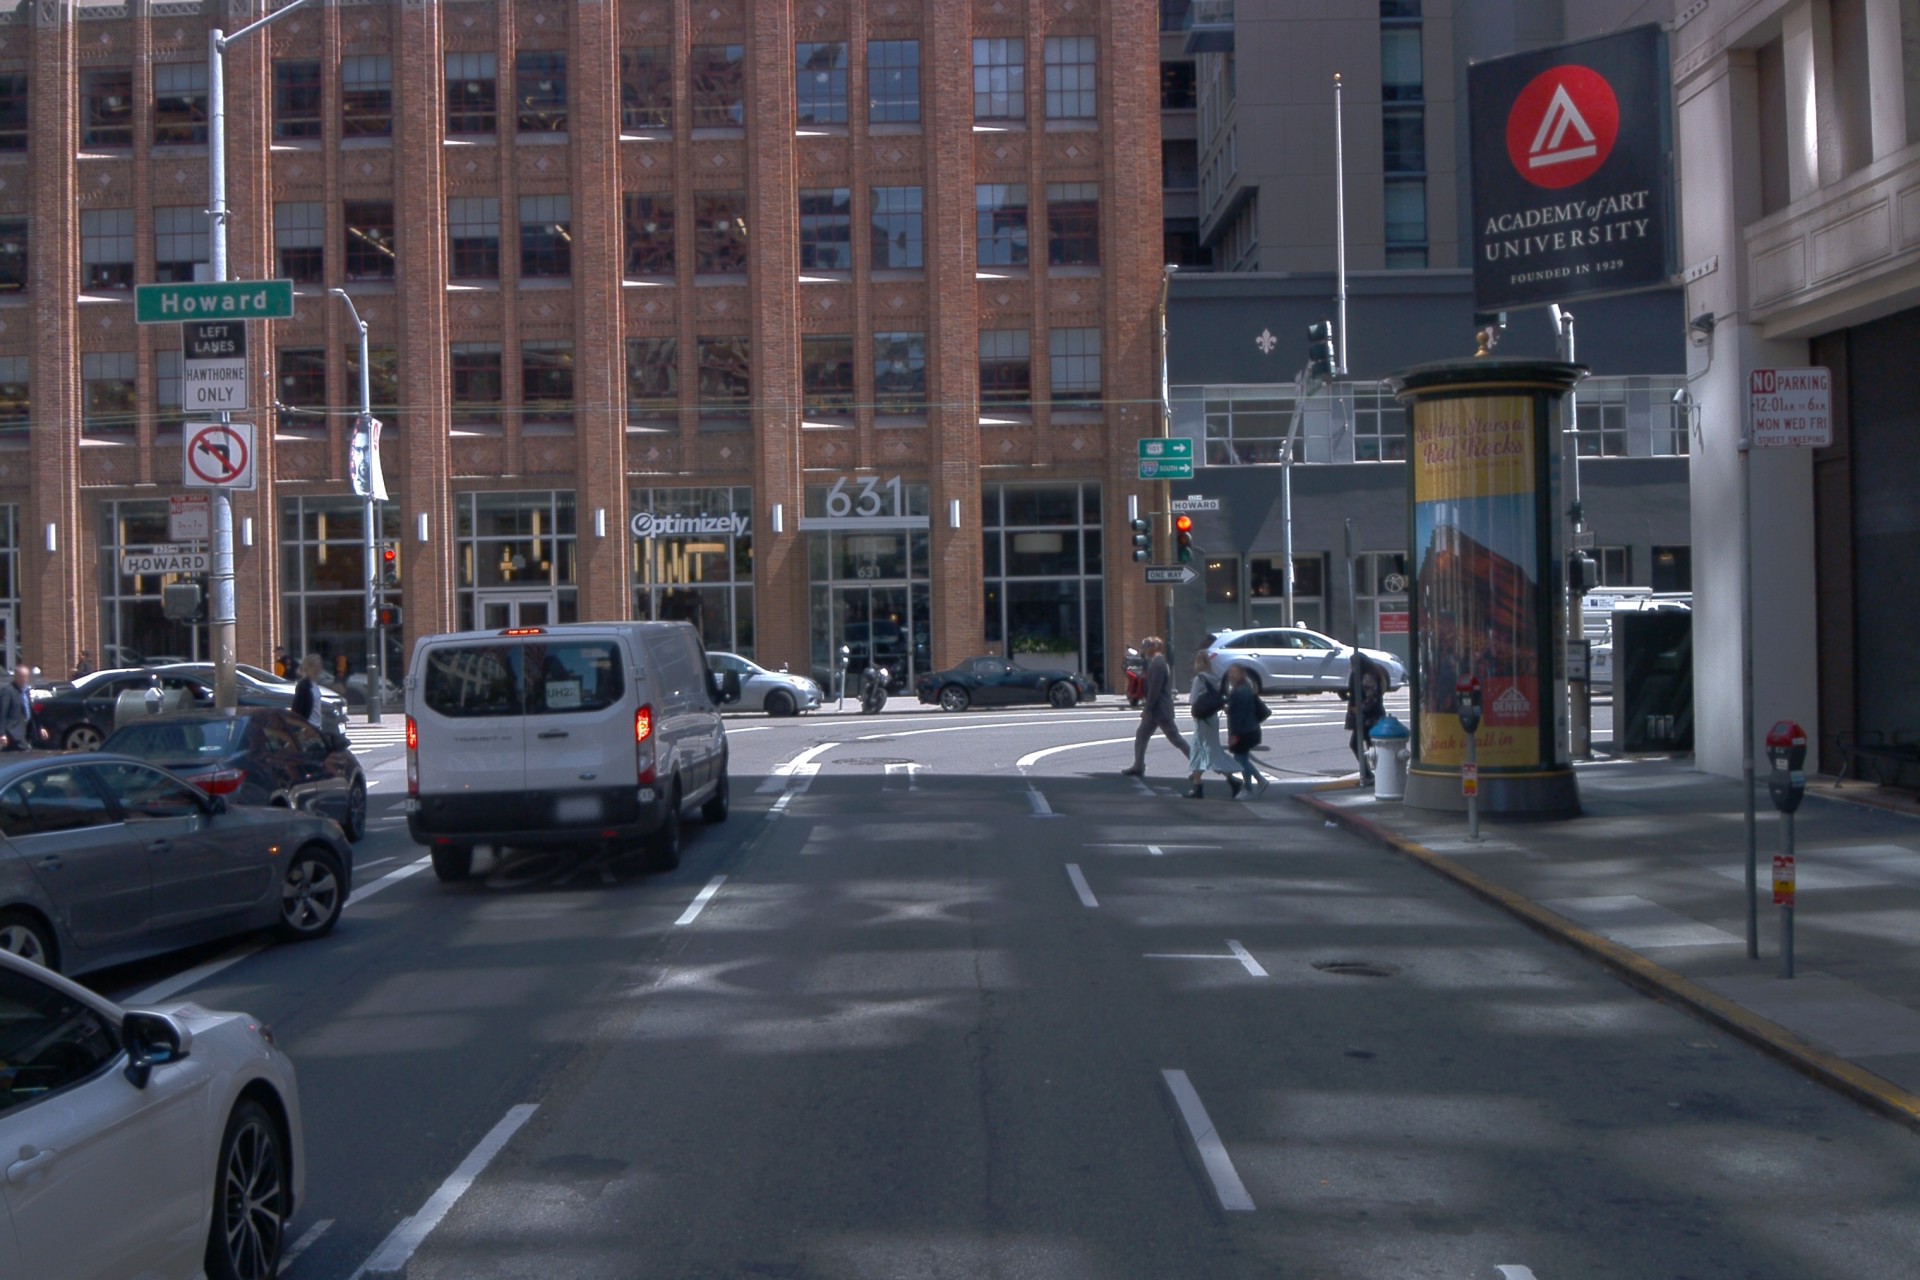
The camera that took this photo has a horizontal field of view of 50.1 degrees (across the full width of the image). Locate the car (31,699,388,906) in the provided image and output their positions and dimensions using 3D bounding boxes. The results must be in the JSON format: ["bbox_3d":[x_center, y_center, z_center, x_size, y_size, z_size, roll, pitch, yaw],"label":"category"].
[{"bbox_3d":[-6.686,1.383,18.803,1.770,1.500,4.171,0,1,0],"label":"car"}]

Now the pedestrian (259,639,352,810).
[{"bbox_3d":[-7.729,0.989,24.299,0.834,1.980,0.673,0,1,7],"label":"pedestrian"}]

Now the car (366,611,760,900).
[{"bbox_3d":[-3.301,0.843,18.531,2.374,2.200,5.787,0,1,1],"label":"car"}]

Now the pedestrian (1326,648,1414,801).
[{"bbox_3d":[4.822,0.981,24.219,0.966,1.756,0.800,0,1,8],"label":"pedestrian"}]

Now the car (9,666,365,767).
[{"bbox_3d":[-12.038,1.179,32.235,4.850,1.470,1.962,0,1,-1],"label":"car"}]

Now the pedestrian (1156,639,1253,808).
[{"bbox_3d":[2.776,0.929,23.312,0.945,1.870,0.617,0,1,27],"label":"pedestrian"}]

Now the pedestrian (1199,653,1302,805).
[{"bbox_3d":[3.348,1.007,23.689,0.894,1.690,0.793,0,1,39],"label":"pedestrian"}]

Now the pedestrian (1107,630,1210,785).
[{"bbox_3d":[2.487,0.836,25.864,1.238,1.915,0.856,0,1,2],"label":"pedestrian"}]
